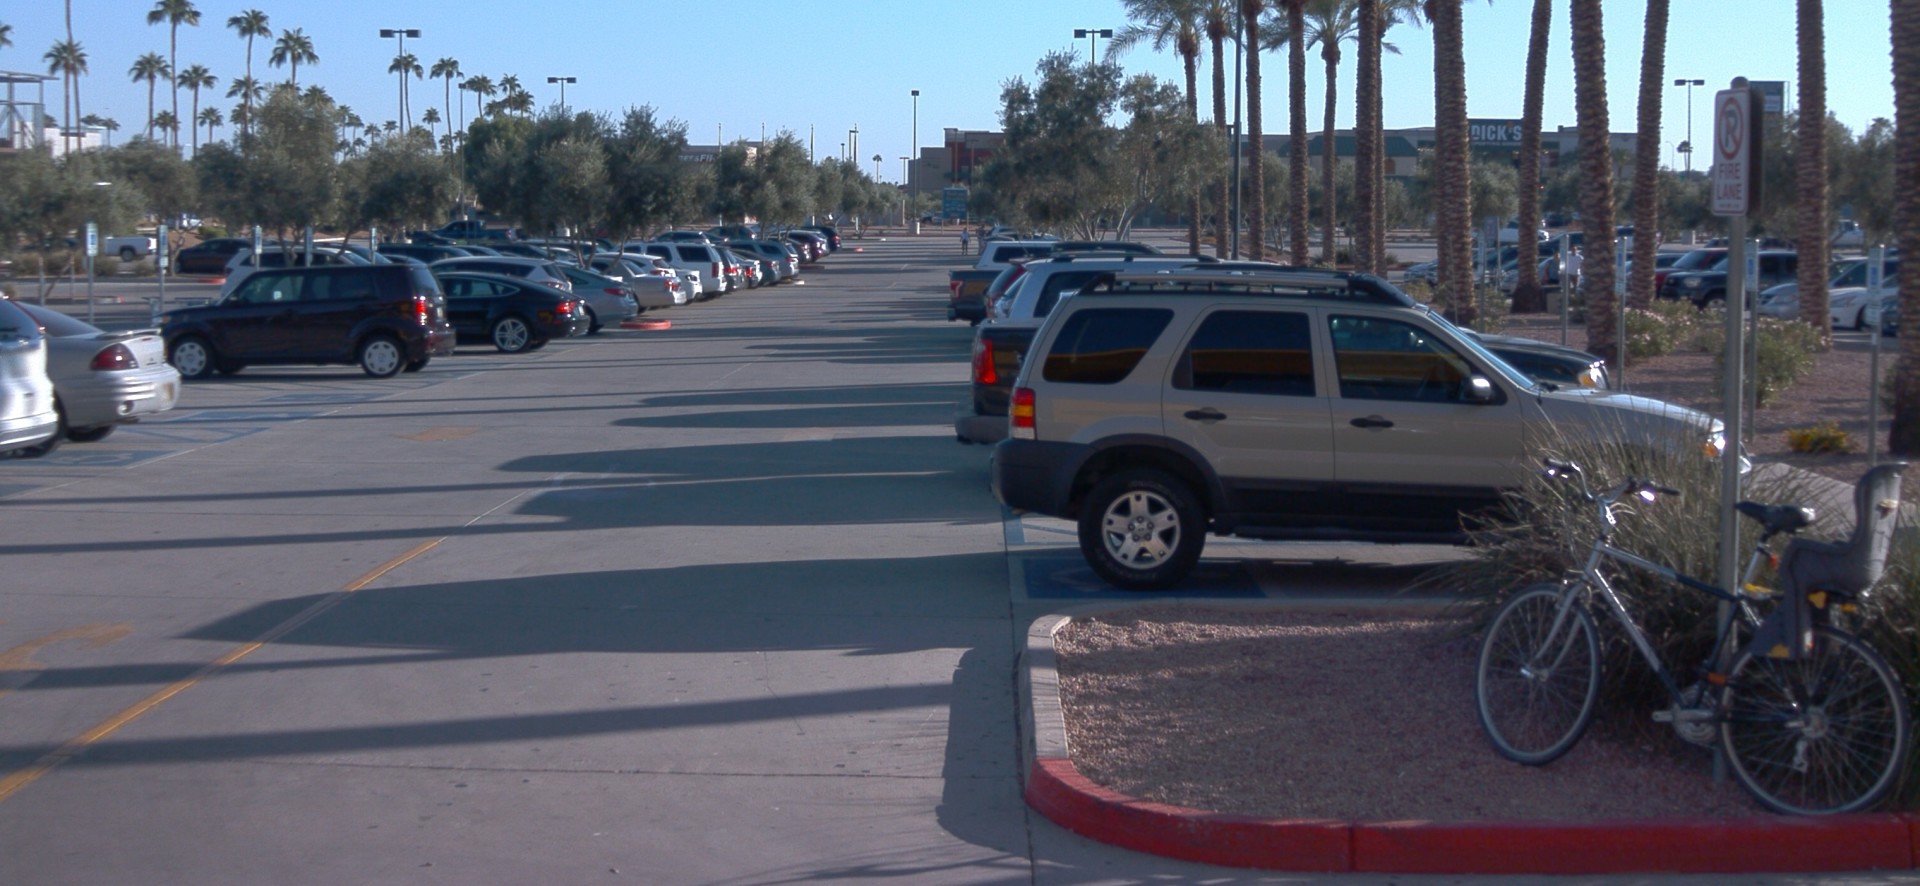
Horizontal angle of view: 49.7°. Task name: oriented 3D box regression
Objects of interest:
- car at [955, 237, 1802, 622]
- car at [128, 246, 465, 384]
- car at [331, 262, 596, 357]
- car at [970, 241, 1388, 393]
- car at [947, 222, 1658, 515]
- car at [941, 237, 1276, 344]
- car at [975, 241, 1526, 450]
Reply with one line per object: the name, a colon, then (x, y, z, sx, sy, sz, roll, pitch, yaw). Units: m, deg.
car: (2.390, -0.198, 12.467, 4.569, 1.986, 2.008, 2, 3, 7)
car: (-9.343, -1.845, 29.481, 4.169, 1.816, 1.897, 1, 3, -2)
car: (-8.599, -2.345, 36.211, 4.169, 1.516, 1.898, 1, 4, -2)
car: (2.705, -1.654, 26.501, 5.084, 1.755, 2.150, 1, 4, 1)
car: (2.620, -0.686, 16.888, 5.349, 2.135, 2.267, 1, 4, 1)
car: (2.705, -2.901, 39.077, 6.084, 1.845, 2.452, 1, 4, -1)
car: (2.688, -1.003, 19.929, 4.916, 1.765, 2.428, 1, 4, 4)
